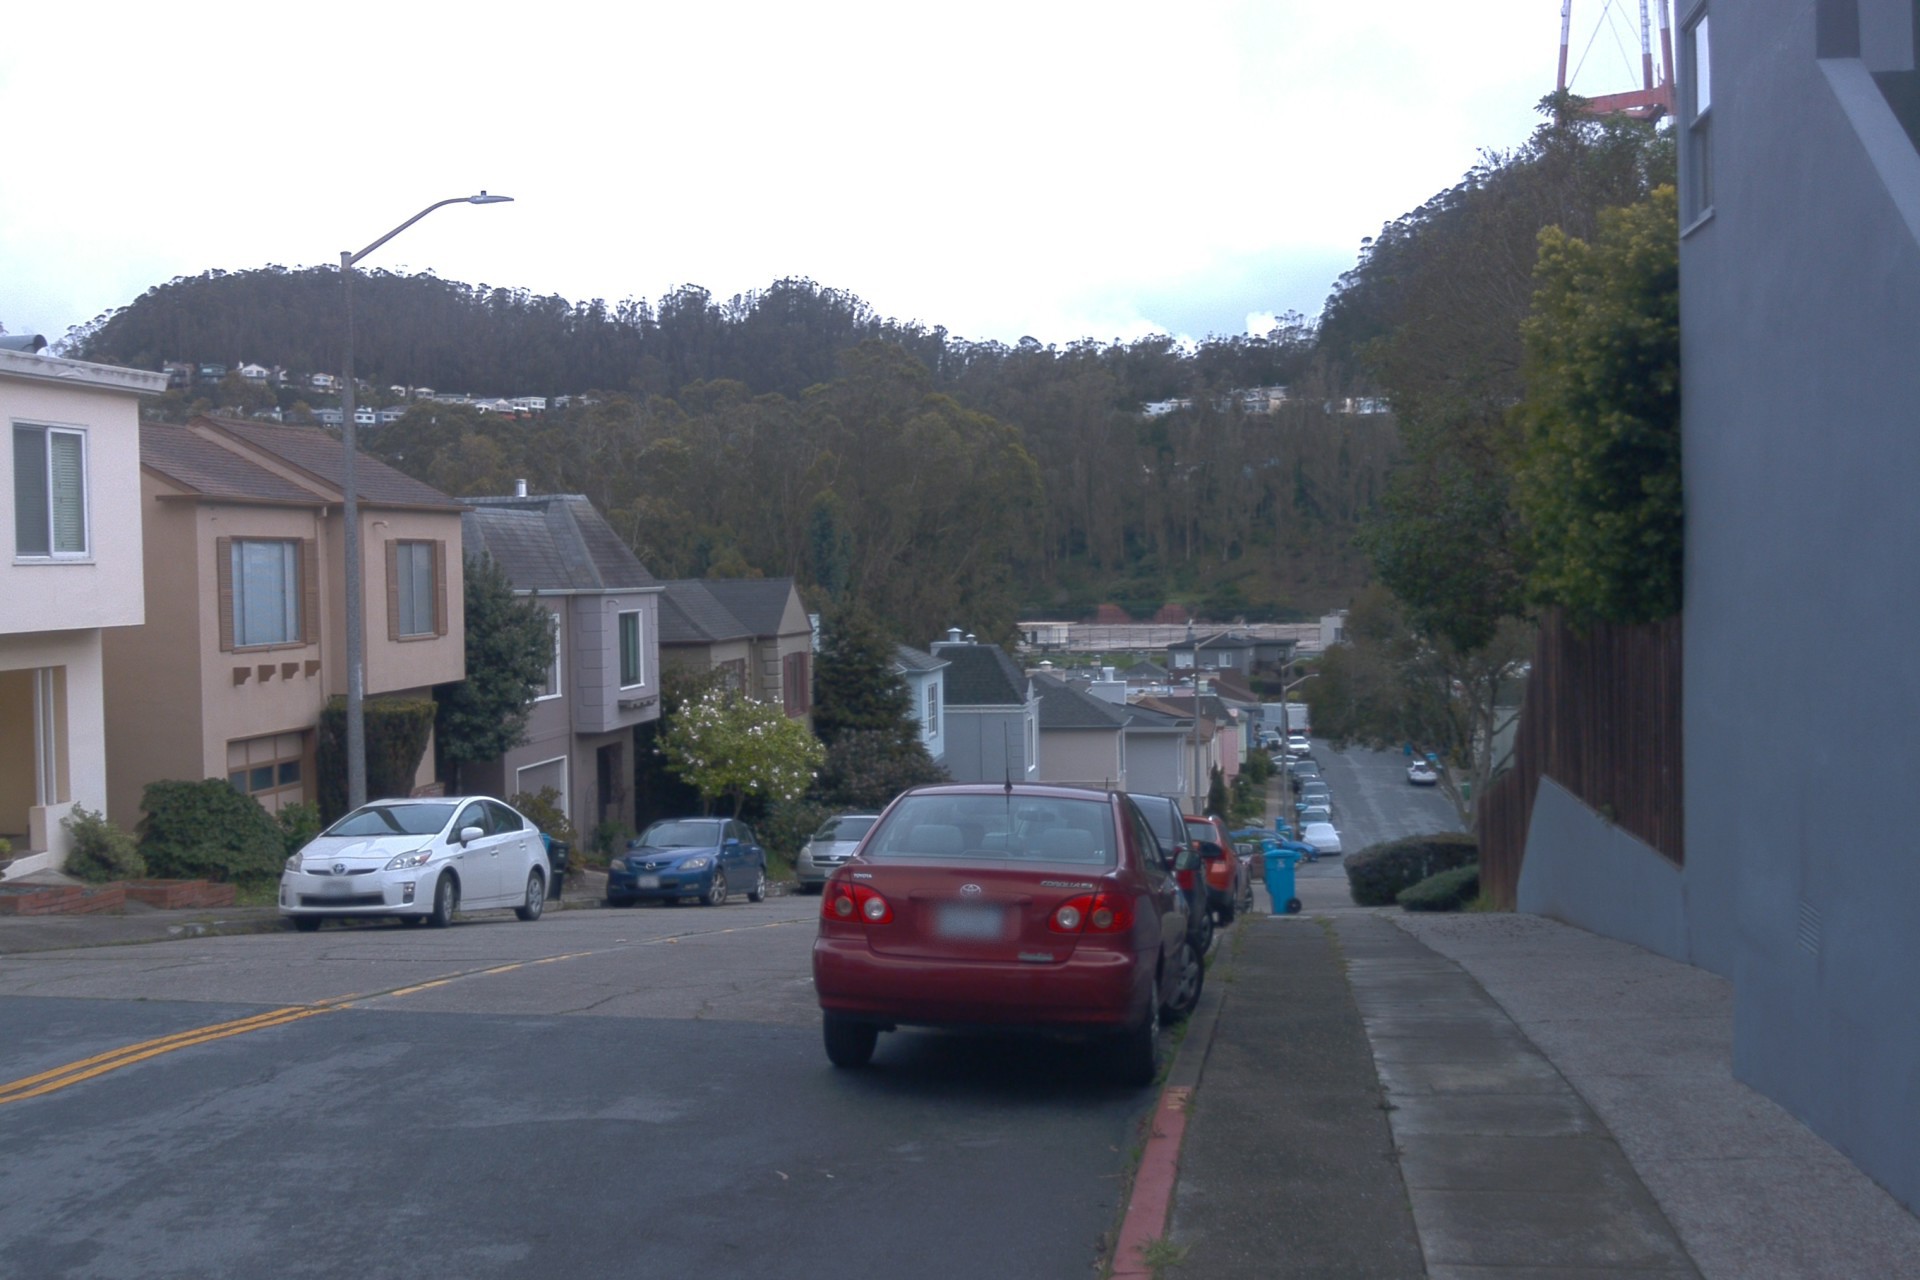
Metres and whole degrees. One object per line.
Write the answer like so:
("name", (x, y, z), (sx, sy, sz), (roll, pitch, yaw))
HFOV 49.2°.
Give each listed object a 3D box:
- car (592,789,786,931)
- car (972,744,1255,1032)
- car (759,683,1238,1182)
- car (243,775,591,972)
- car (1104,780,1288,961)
("car", (-4.370, 3.543, 34.546), (2.028, 1.850, 4.430), (1, 0, 9))
("car", (1.444, 1.989, 18.142), (2.133, 1.950, 4.387), (1, 0, 8))
("car", (0.470, 1.371, 11.961), (2.071, 2.152, 4.766), (1, 0, 9))
("car", (-6.010, 2.547, 23.875), (2.150, 1.700, 4.598), (1, 0, 10))
("car", (3.479, 3.199, 30.094), (2.115, 2.060, 4.746), (1, 0, 13))
